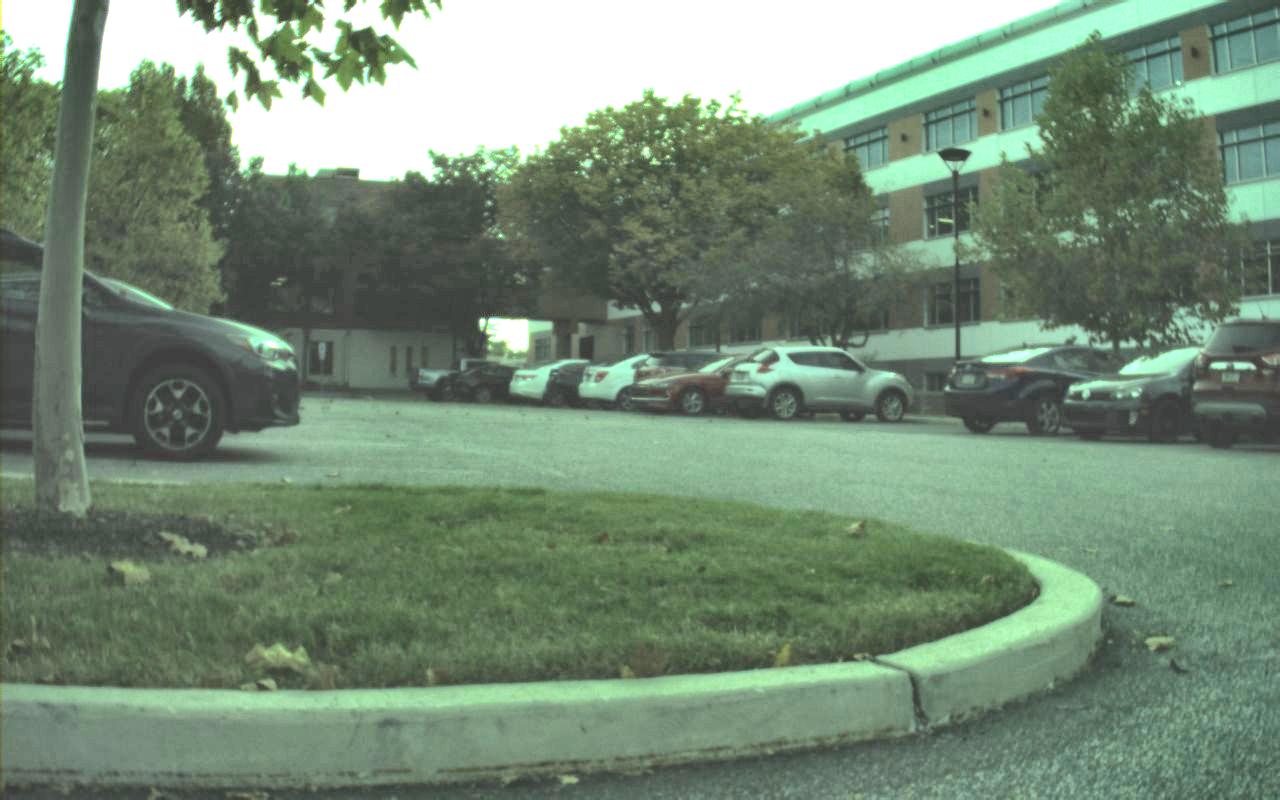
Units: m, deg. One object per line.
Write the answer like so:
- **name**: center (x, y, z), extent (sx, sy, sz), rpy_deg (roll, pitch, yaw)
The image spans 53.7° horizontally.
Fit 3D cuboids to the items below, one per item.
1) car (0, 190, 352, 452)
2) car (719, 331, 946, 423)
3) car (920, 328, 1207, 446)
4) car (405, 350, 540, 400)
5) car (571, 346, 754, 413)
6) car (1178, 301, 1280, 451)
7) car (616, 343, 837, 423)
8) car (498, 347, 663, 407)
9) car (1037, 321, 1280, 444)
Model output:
- **car**: center (-4.495, -0.502, 8.241), extent (4.656, 1.684, 2.023), rpy_deg (0, 1, -25)
- **car**: center (4.032, -0.477, 26.104), extent (4.390, 1.777, 1.926), rpy_deg (0, 1, -20)
- **car**: center (6.759, -0.200, 18.904), extent (4.576, 1.655, 1.964), rpy_deg (0, 1, -23)
- **car**: center (-6.693, -0.991, 49.731), extent (5.023, 1.917, 2.093), rpy_deg (0, 1, -24)
- **car**: center (0.585, -0.536, 33.473), extent (4.475, 1.687, 1.948), rpy_deg (0, 1, -20)
- **car**: center (9.037, -0.265, 14.429), extent (4.463, 1.697, 1.937), rpy_deg (0, 1, -25)
- **car**: center (1.937, -0.385, 28.204), extent (4.561, 1.680, 1.966), rpy_deg (0, 1, -19)
- **car**: center (-1.797, -0.696, 38.008), extent (4.593, 1.719, 1.990), rpy_deg (0, 1, -21)
- **car**: center (7.873, -0.229, 16.770), extent (4.374, 1.557, 1.896), rpy_deg (0, 1, -23)
